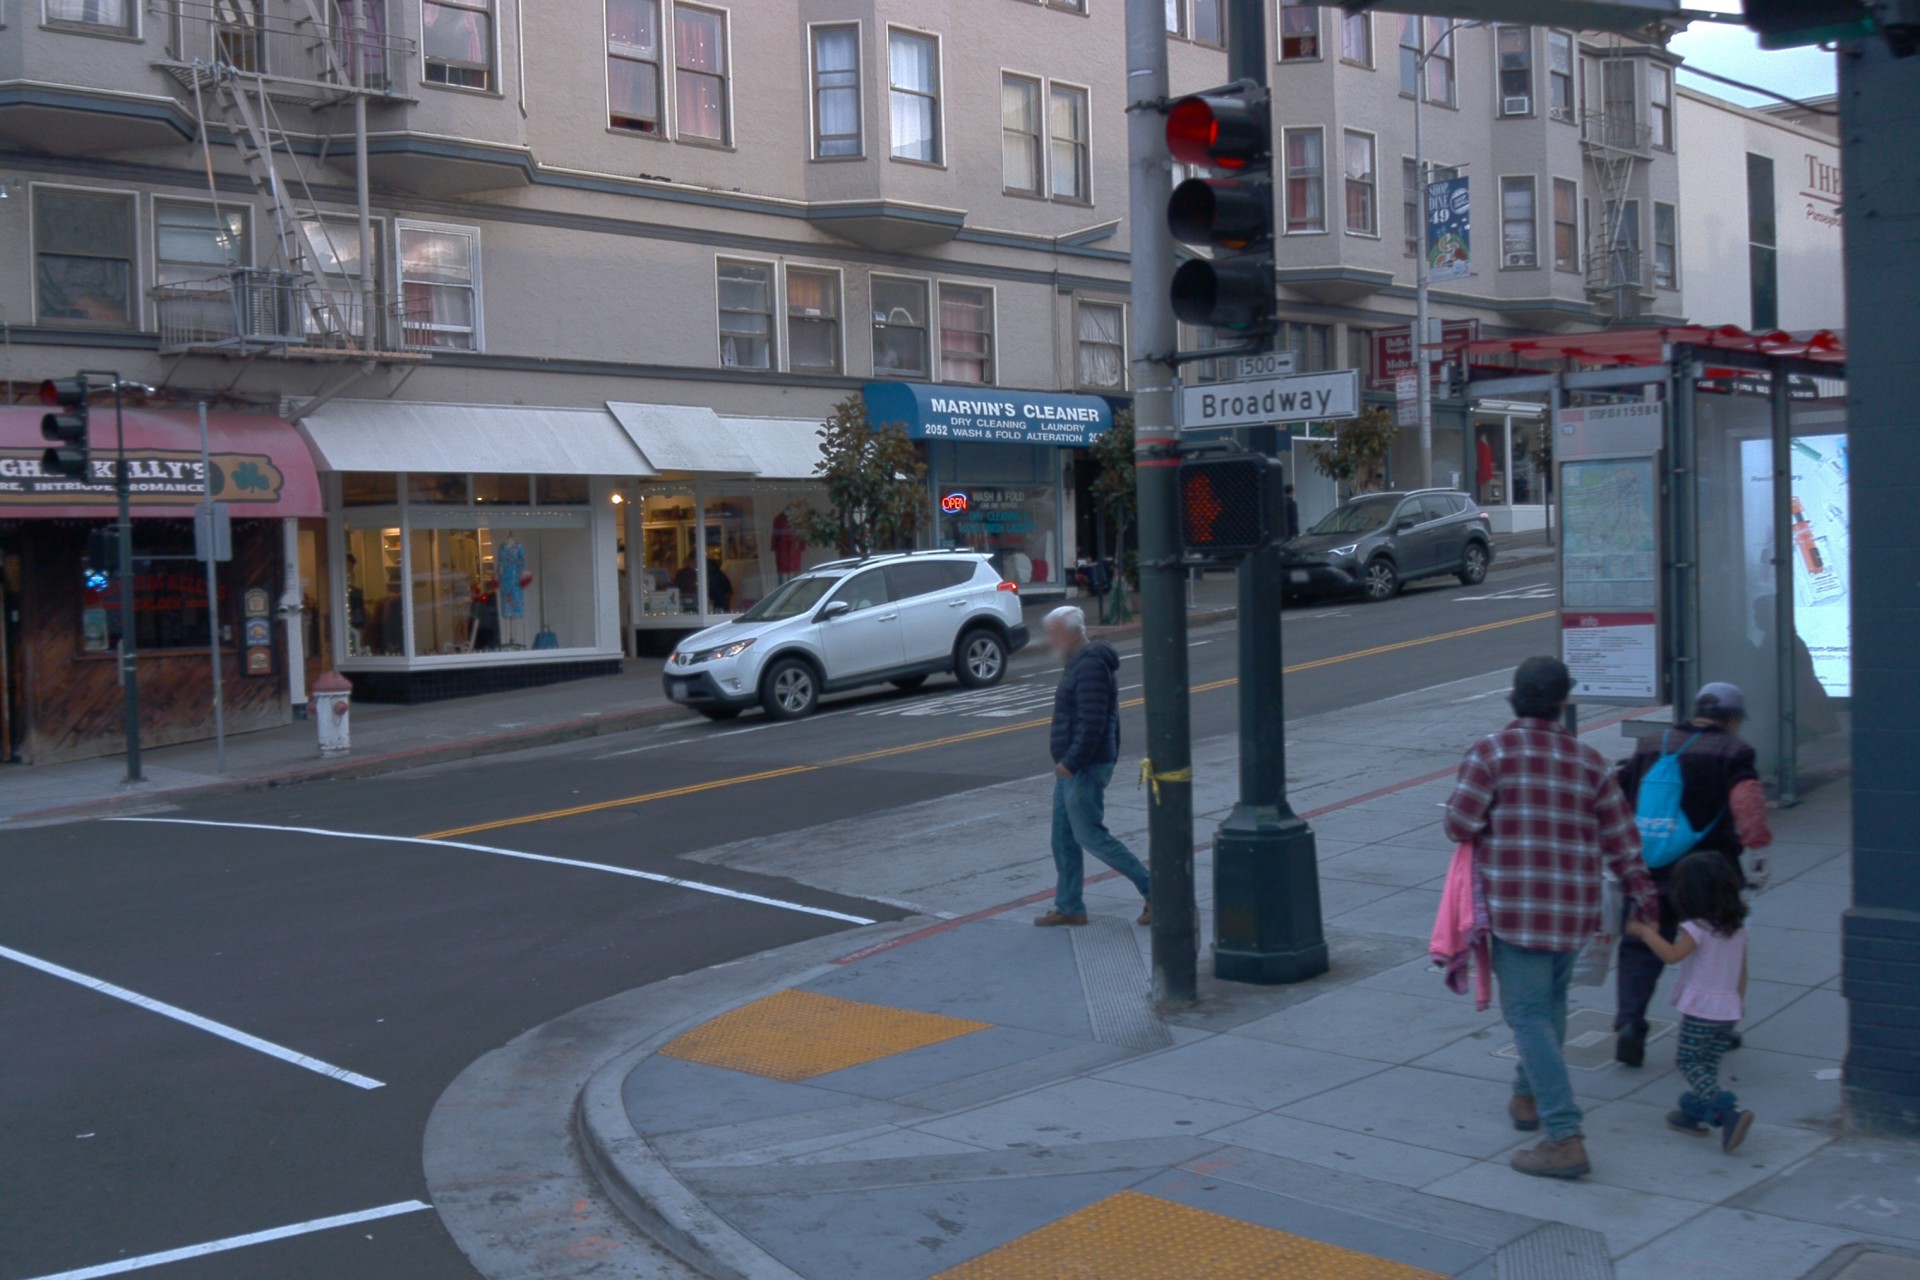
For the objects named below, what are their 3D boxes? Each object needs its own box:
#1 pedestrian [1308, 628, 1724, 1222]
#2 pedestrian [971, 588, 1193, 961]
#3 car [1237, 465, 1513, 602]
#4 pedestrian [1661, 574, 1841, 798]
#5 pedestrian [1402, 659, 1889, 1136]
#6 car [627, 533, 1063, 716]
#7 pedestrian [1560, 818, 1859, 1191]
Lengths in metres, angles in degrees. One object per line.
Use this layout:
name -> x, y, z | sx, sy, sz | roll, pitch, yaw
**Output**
pedestrian -> 1.841, 0.882, 6.986 | 0.955, 1.840, 1.111 | 0, 0, -10
pedestrian -> 0.669, 0.680, 10.957 | 1.081, 1.890, 0.894 | 1, 0, 9
car -> 6.818, -1.655, 33.545 | 4.424, 2.000, 2.160 | 0, 0, -42
pedestrian -> 5.262, 0.291, 13.681 | 0.648, 1.430, 0.911 | 0, 1, -43
pedestrian -> 2.706, 0.904, 8.100 | 1.353, 1.630, 1.390 | 1, 1, 43
car -> -1.292, -0.161, 23.962 | 4.556, 1.930, 2.267 | 0, 0, -36
pedestrian -> 2.527, 1.199, 6.978 | 0.660, 1.120, 0.694 | 0, 0, -15
